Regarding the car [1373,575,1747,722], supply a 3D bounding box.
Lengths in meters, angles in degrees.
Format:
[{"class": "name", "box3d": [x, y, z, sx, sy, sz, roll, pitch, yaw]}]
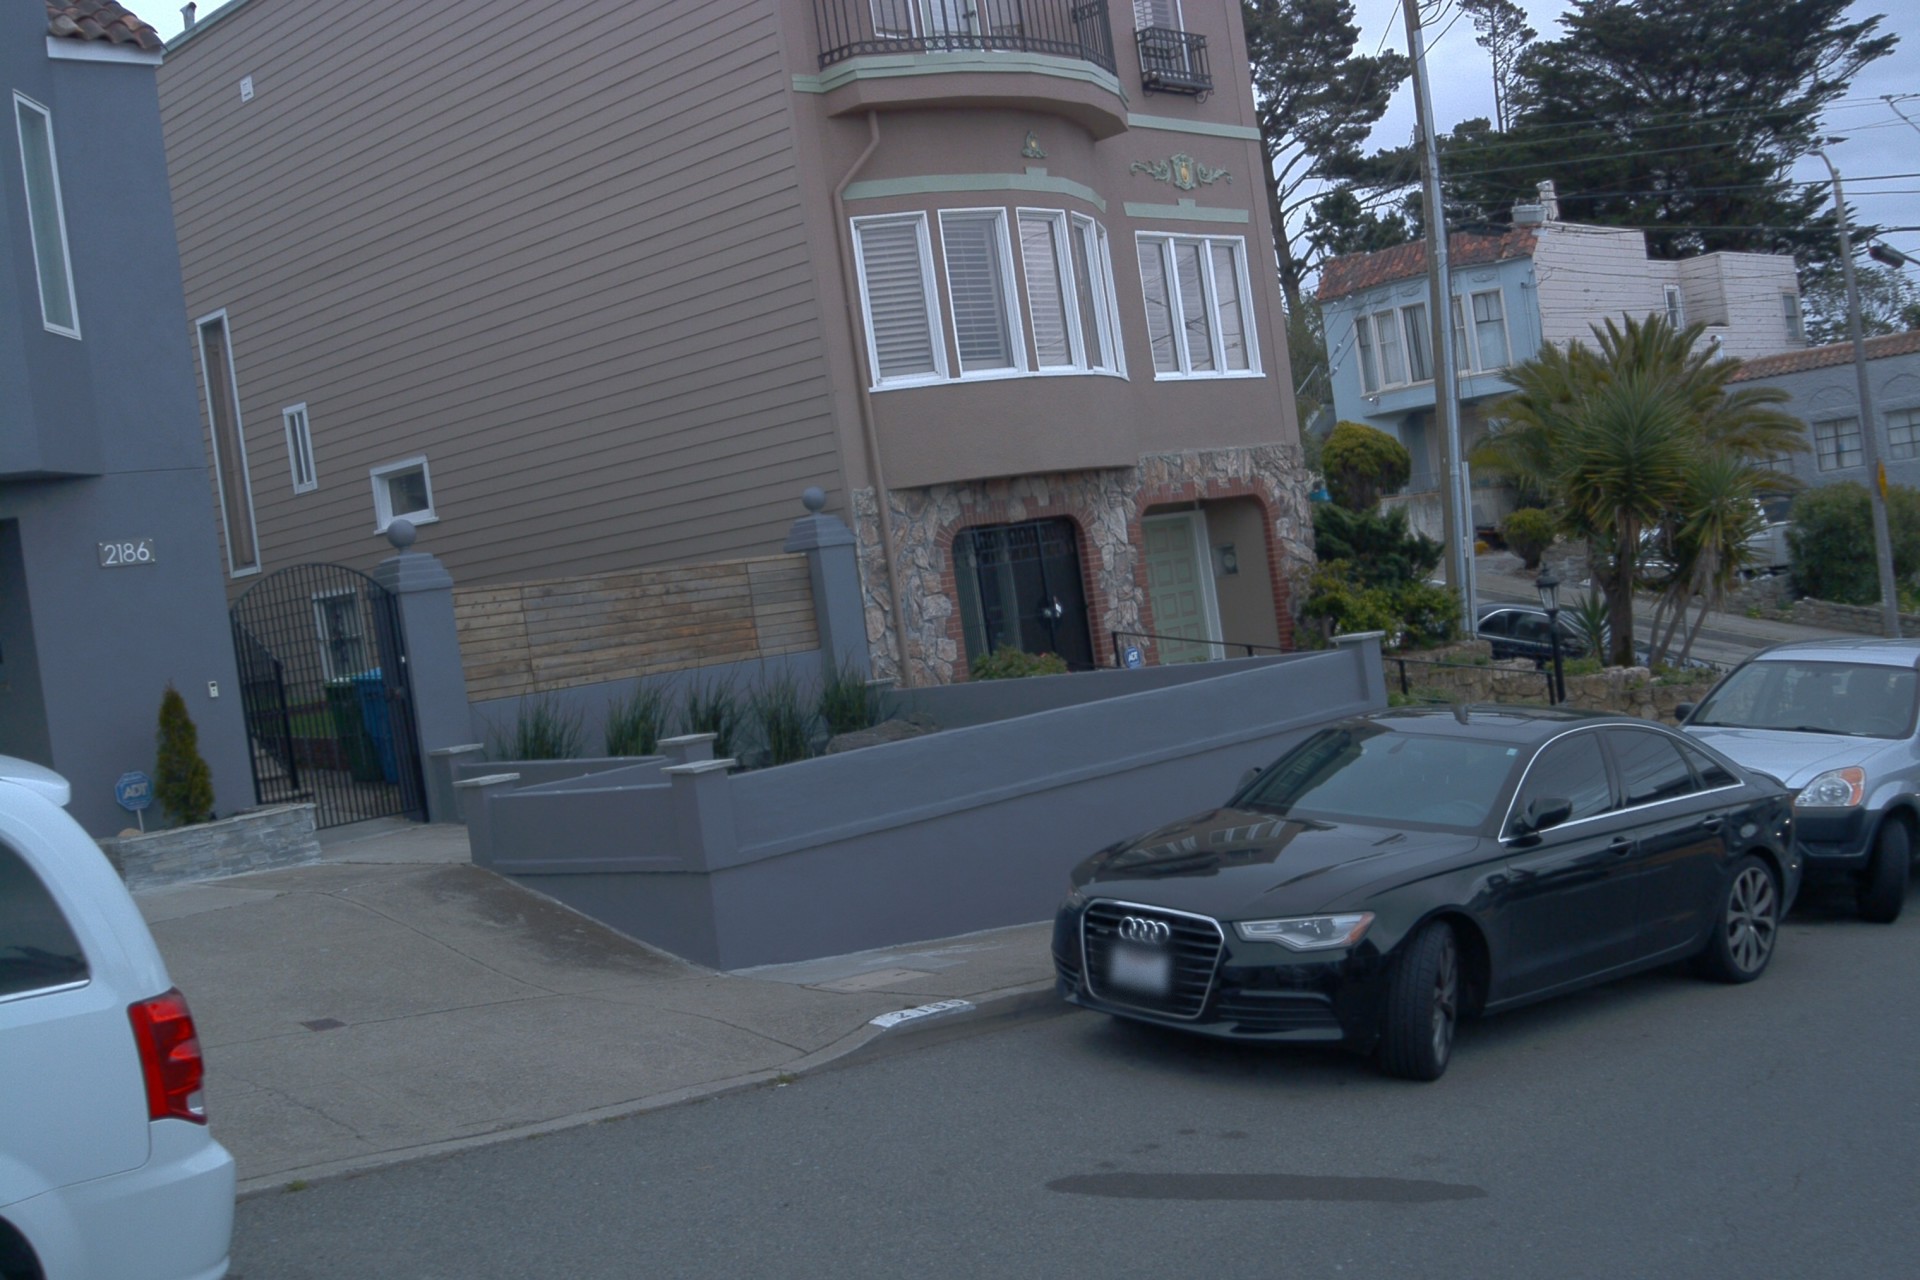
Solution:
[{"class": "car", "box3d": [8.312, 0.079, 28.644, 4.570, 1.890, 2.007, 1, 1, 41]}]

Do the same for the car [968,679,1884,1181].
[{"class": "car", "box3d": [2.565, 1.160, 10.317, 5.043, 1.790, 2.004, 0, 1, -43]}]
